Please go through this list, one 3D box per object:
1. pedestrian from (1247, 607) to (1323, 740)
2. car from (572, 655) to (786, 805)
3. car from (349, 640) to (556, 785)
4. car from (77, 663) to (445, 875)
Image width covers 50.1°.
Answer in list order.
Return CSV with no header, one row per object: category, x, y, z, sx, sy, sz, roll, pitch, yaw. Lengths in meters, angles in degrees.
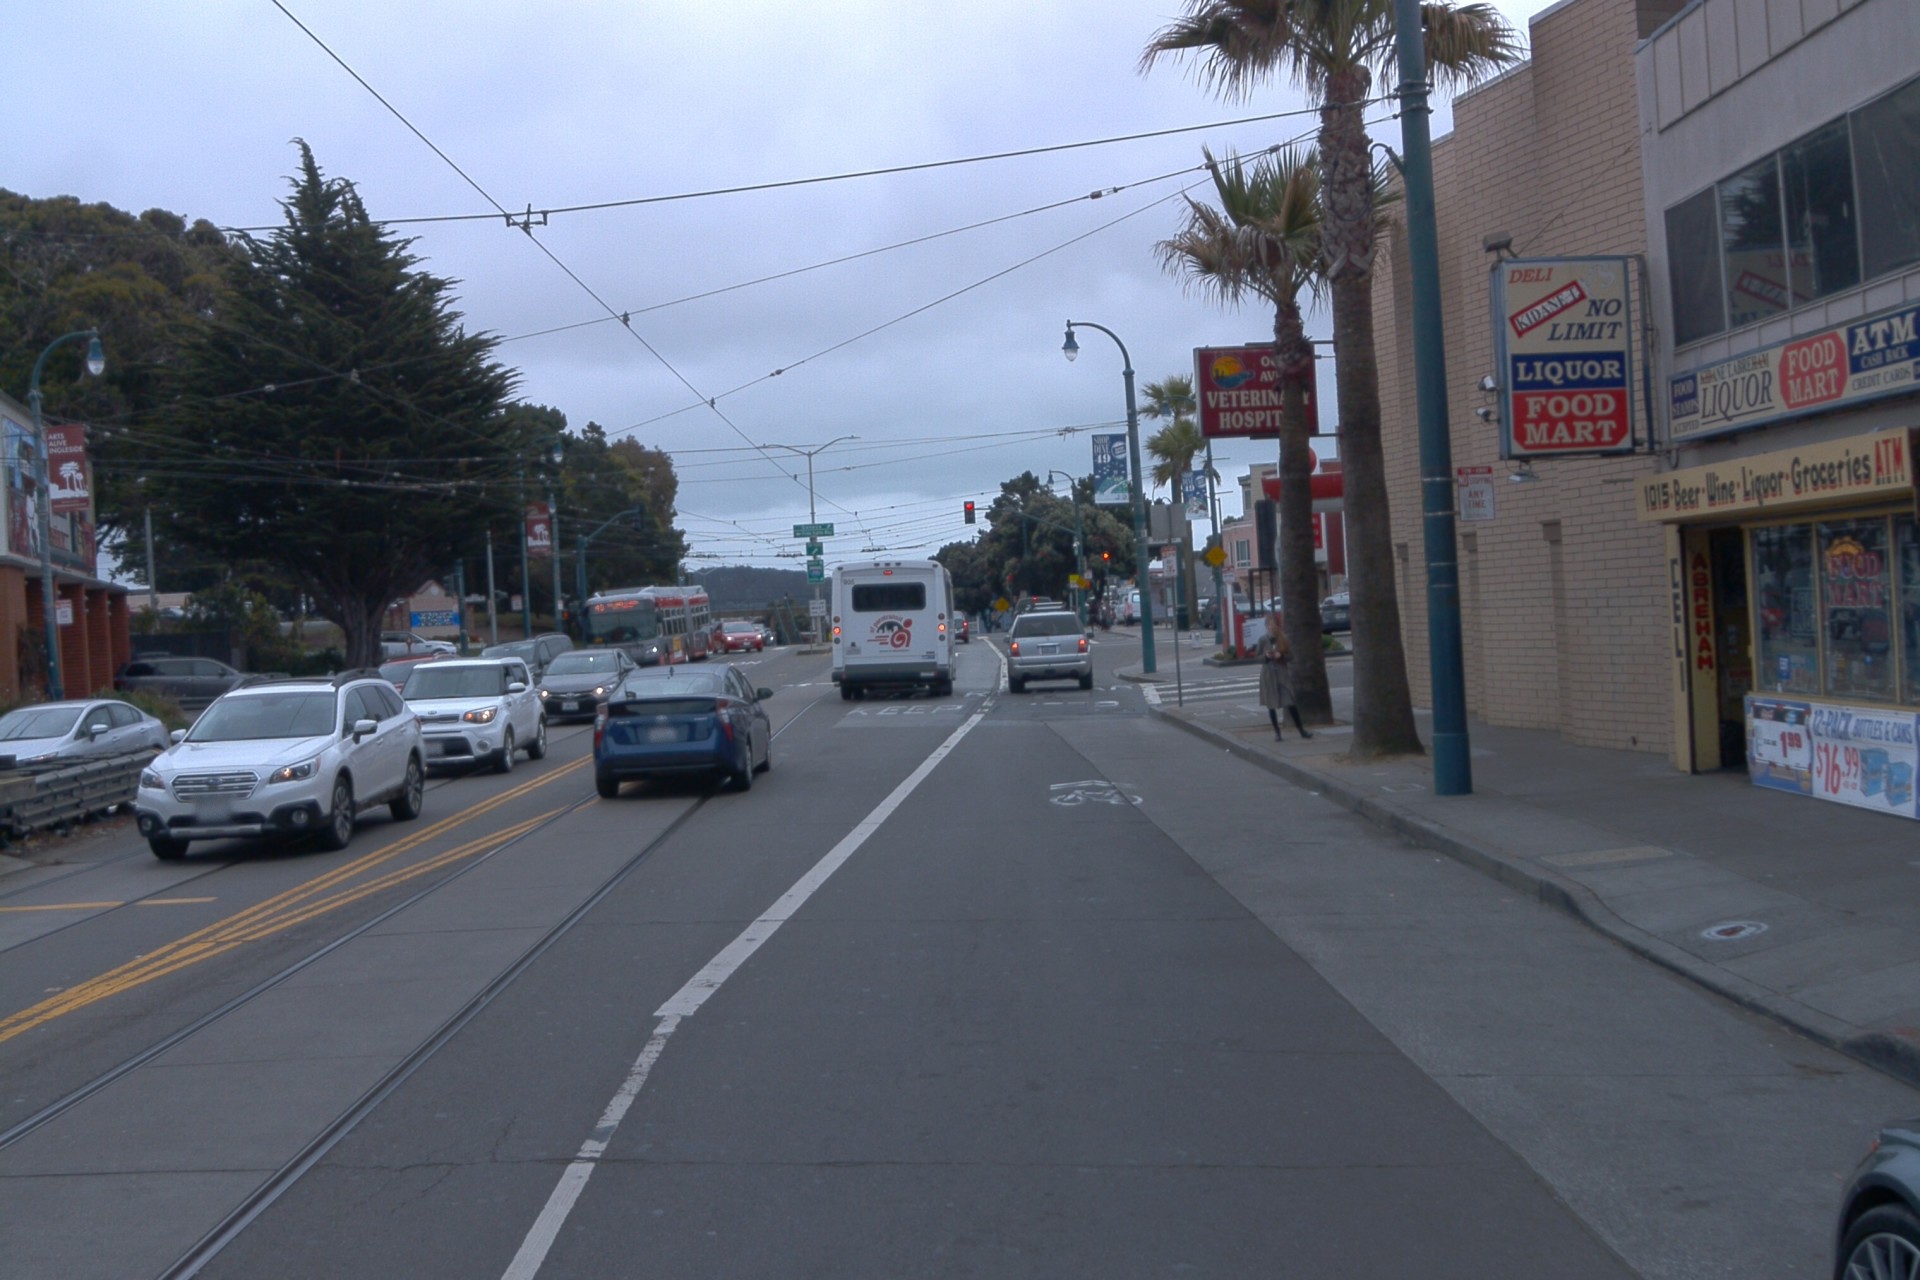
pedestrian,4.239,0.423,26.864,0.844,1.710,0.722,0,1,-2
car,-3.271,1.011,24.735,1.971,1.540,4.260,0,1,0
car,-7.157,0.969,29.450,1.998,1.850,4.153,0,1,-1
car,-6.781,1.168,20.602,2.143,1.740,4.818,0,1,-1
